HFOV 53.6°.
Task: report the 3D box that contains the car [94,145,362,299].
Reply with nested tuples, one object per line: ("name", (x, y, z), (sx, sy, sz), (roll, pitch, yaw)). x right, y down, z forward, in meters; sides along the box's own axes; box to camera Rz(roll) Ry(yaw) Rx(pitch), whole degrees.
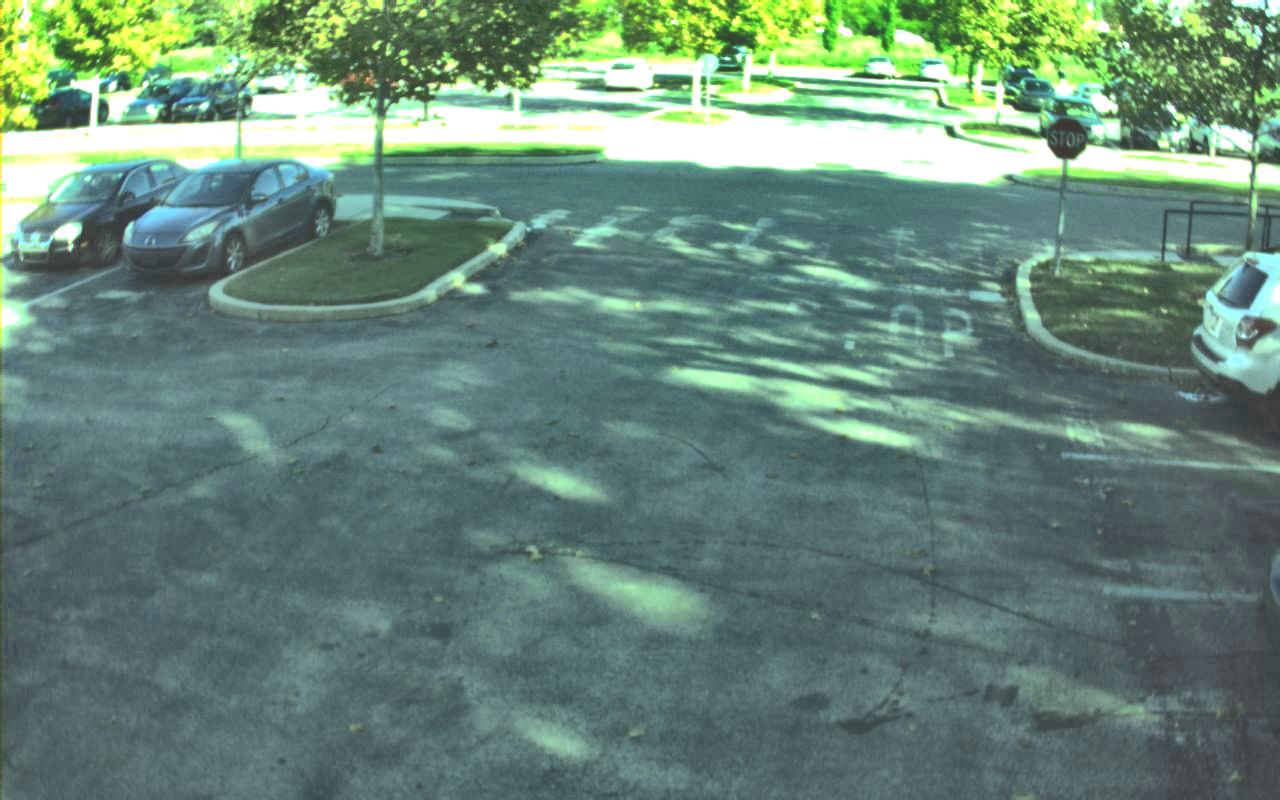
("car", (-6.090, -2.757, 18.018), (1.927, 1.549, 4.530), (4, 17, 15))

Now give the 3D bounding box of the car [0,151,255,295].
("car", (-8.418, -2.956, 19.002), (1.944, 1.566, 4.486), (5, 18, 21))

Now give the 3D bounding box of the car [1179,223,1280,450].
("car", (7.786, -0.646, 10.976), (4.411, 1.761, 1.982), (0, 16, 4))
